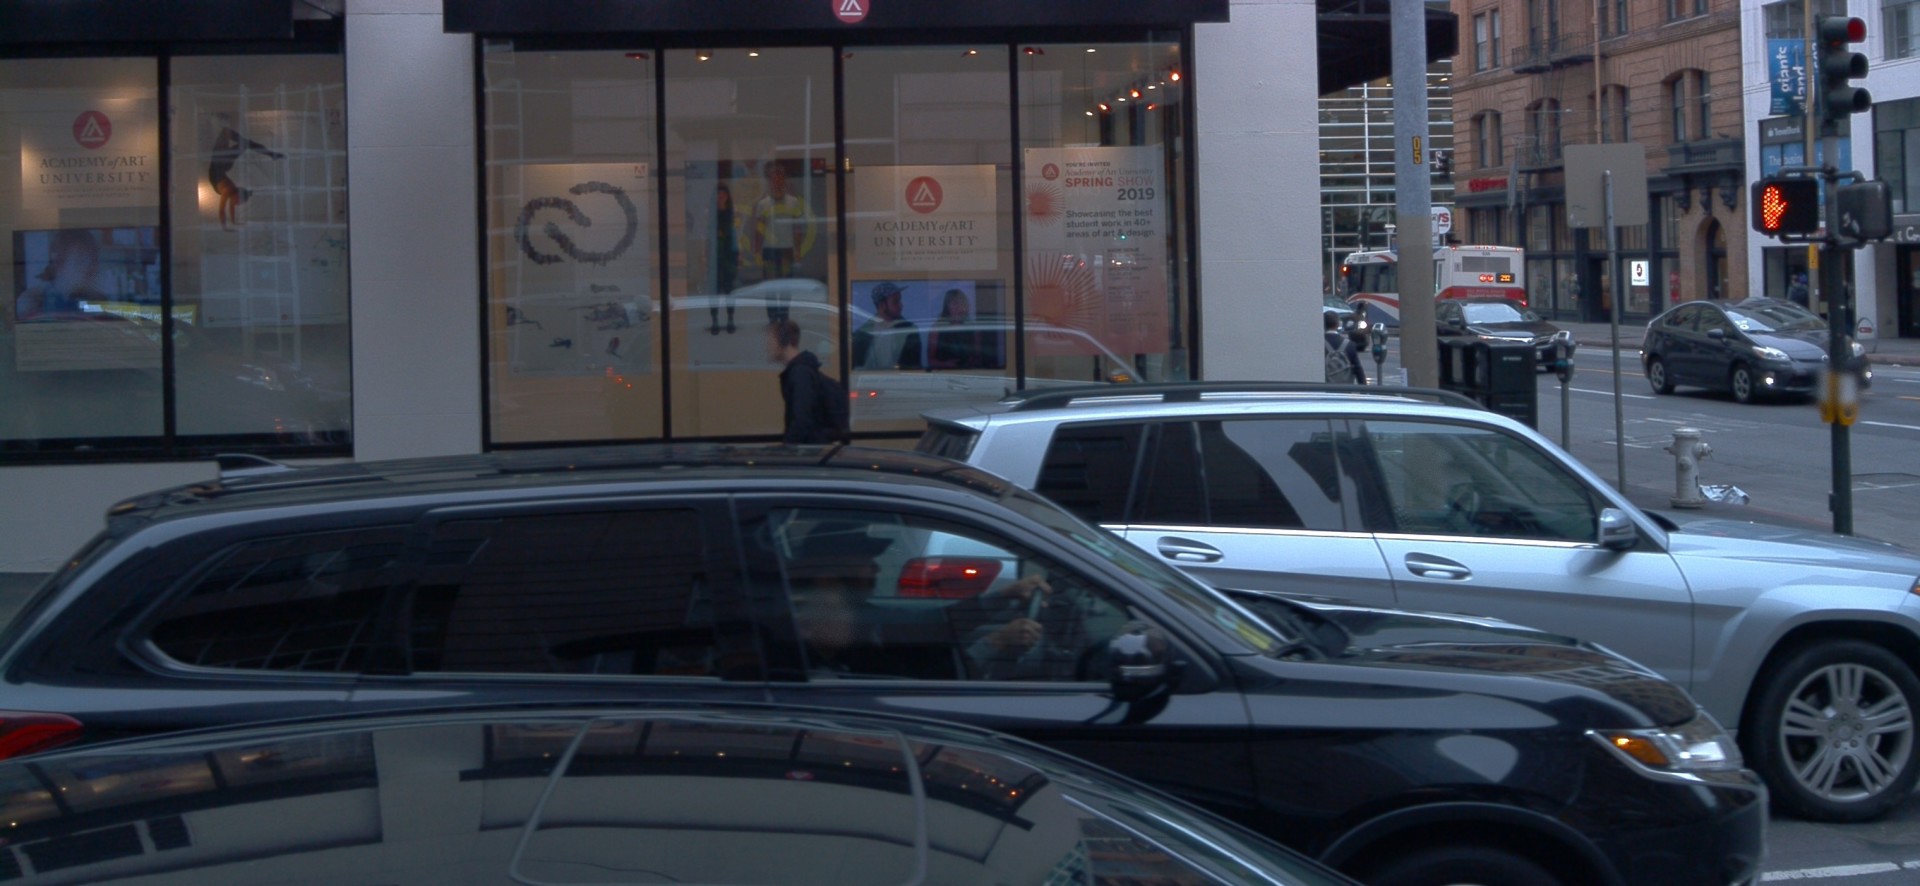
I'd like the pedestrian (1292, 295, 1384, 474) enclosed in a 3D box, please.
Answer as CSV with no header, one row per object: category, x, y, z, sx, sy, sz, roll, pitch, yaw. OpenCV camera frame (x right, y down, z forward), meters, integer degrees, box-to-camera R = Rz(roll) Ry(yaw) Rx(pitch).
pedestrian,3.989,-0.643,21.817,0.732,1.796,0.973,0,2,-5

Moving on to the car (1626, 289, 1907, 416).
car,11.876,-1.423,30.743,2.064,1.531,4.507,-1,6,-6

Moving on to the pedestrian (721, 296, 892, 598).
pedestrian,-1.008,-0.003,13.625,1.086,1.887,0.780,0,2,-4
